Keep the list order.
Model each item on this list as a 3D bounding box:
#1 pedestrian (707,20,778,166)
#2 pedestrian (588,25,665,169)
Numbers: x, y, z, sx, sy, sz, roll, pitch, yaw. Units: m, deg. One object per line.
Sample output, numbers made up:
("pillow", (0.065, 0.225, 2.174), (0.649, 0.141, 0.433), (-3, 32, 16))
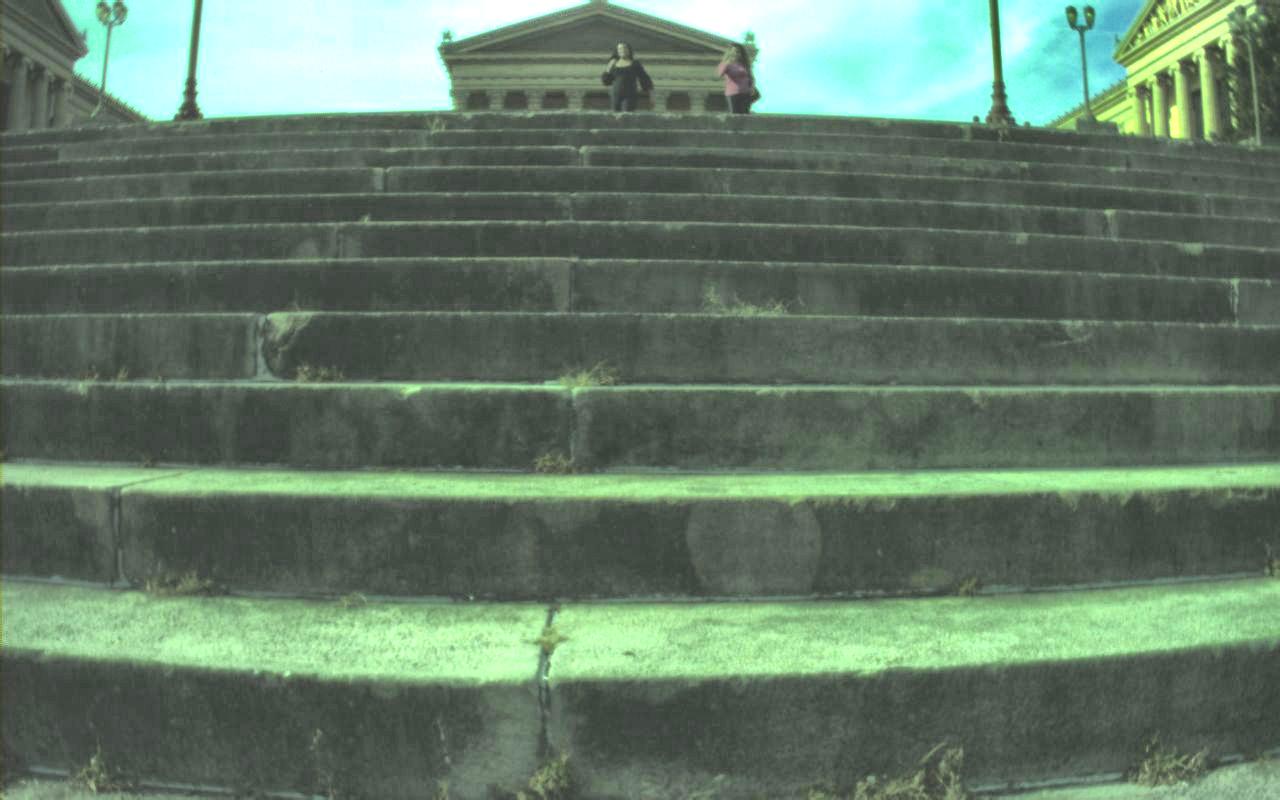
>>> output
("pedestrian", (1.319, -3.980, 16.112), (0.823, 1.774, 0.846), (0, 0, -2))
("pedestrian", (-0.170, -4.100, 16.889), (0.839, 1.825, 0.851), (0, 0, 13))
